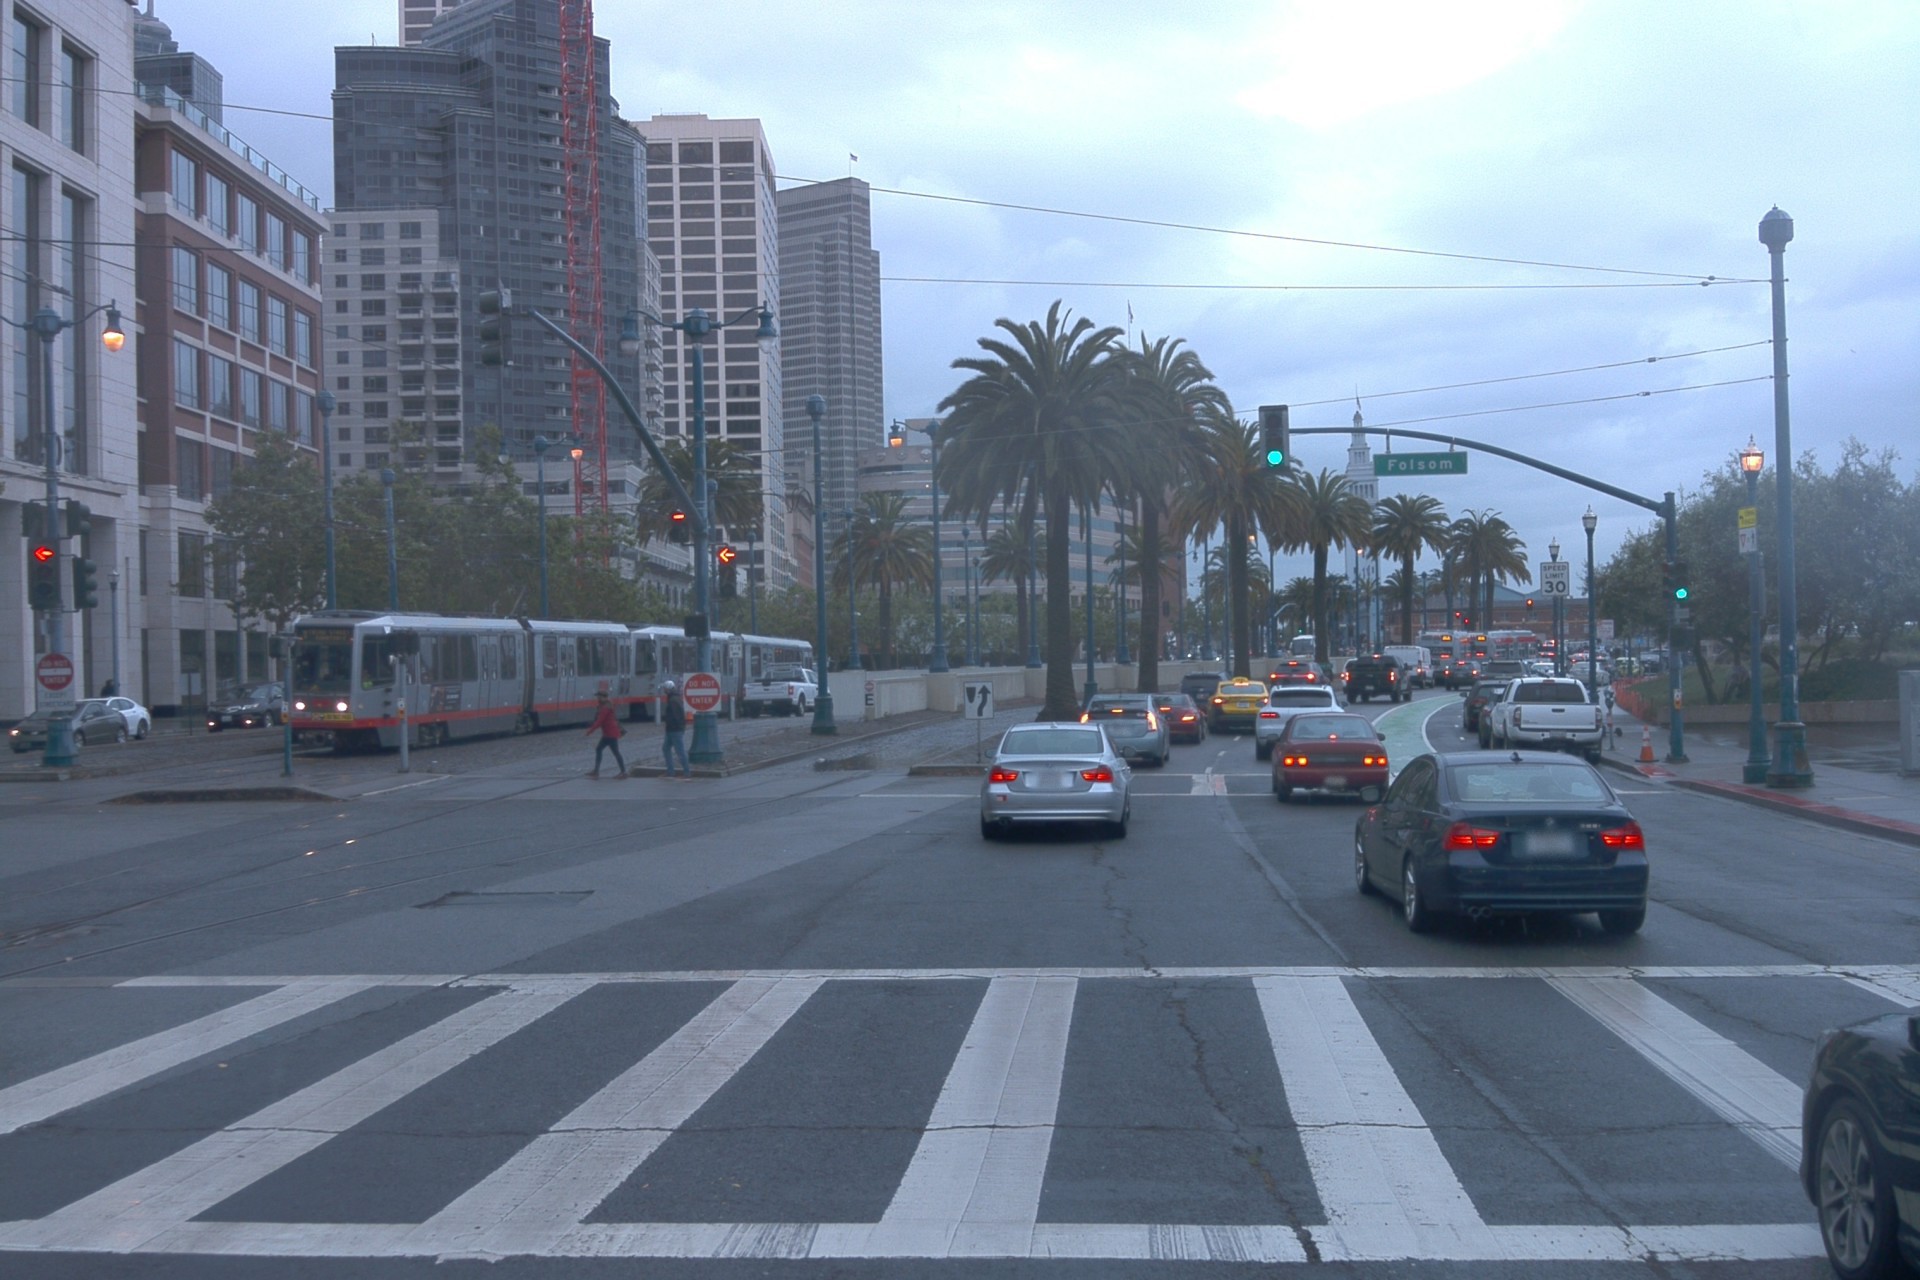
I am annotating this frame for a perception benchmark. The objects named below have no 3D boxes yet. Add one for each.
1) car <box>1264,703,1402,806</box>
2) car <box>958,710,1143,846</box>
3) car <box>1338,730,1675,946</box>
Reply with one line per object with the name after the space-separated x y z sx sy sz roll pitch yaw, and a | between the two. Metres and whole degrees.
5.775 1.745 32.497 1.923 1.450 3.945 0 -1 7 | car
1.259 1.699 26.726 2.066 1.510 4.627 0 -1 6 | car
4.395 1.548 17.367 1.869 1.450 4.344 0 -1 3 | car
